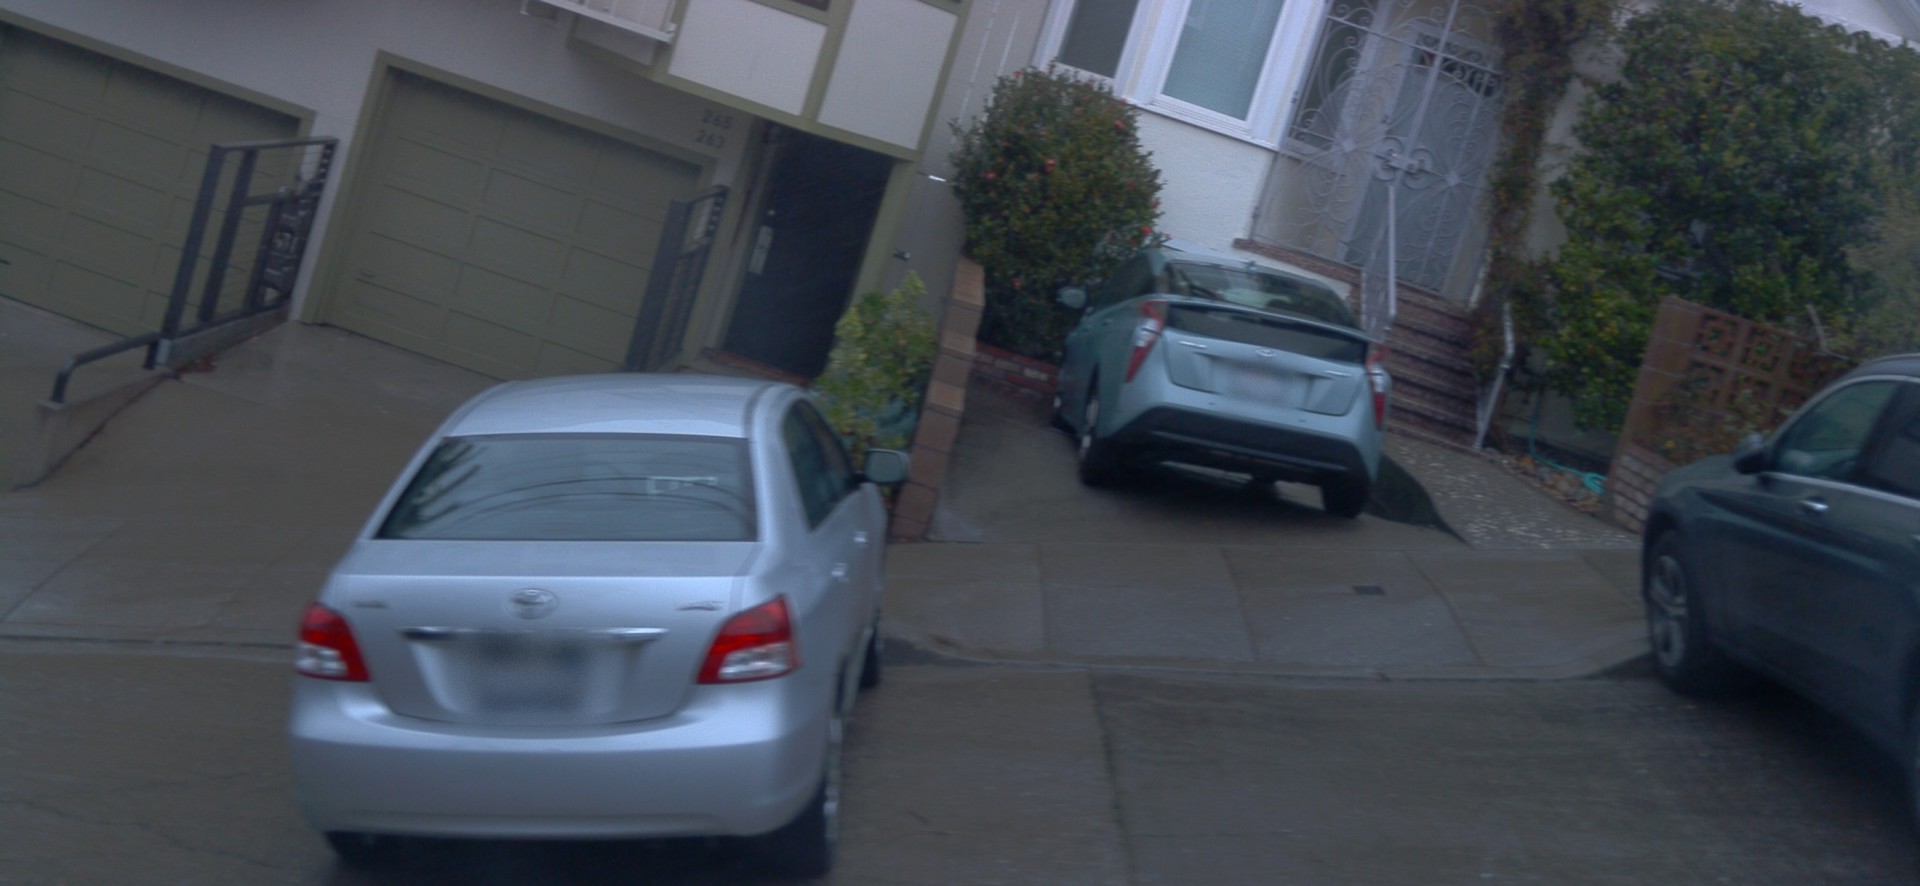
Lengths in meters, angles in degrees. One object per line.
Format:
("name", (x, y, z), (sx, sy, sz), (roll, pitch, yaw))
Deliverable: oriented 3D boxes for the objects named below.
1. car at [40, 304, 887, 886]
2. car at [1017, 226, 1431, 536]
("car", (-1.373, 0.531, 7.520), (2.003, 1.841, 4.196), (1, 6, 0))
("car", (1.526, -0.575, 13.734), (2.099, 1.641, 4.509), (1, 6, -1))
